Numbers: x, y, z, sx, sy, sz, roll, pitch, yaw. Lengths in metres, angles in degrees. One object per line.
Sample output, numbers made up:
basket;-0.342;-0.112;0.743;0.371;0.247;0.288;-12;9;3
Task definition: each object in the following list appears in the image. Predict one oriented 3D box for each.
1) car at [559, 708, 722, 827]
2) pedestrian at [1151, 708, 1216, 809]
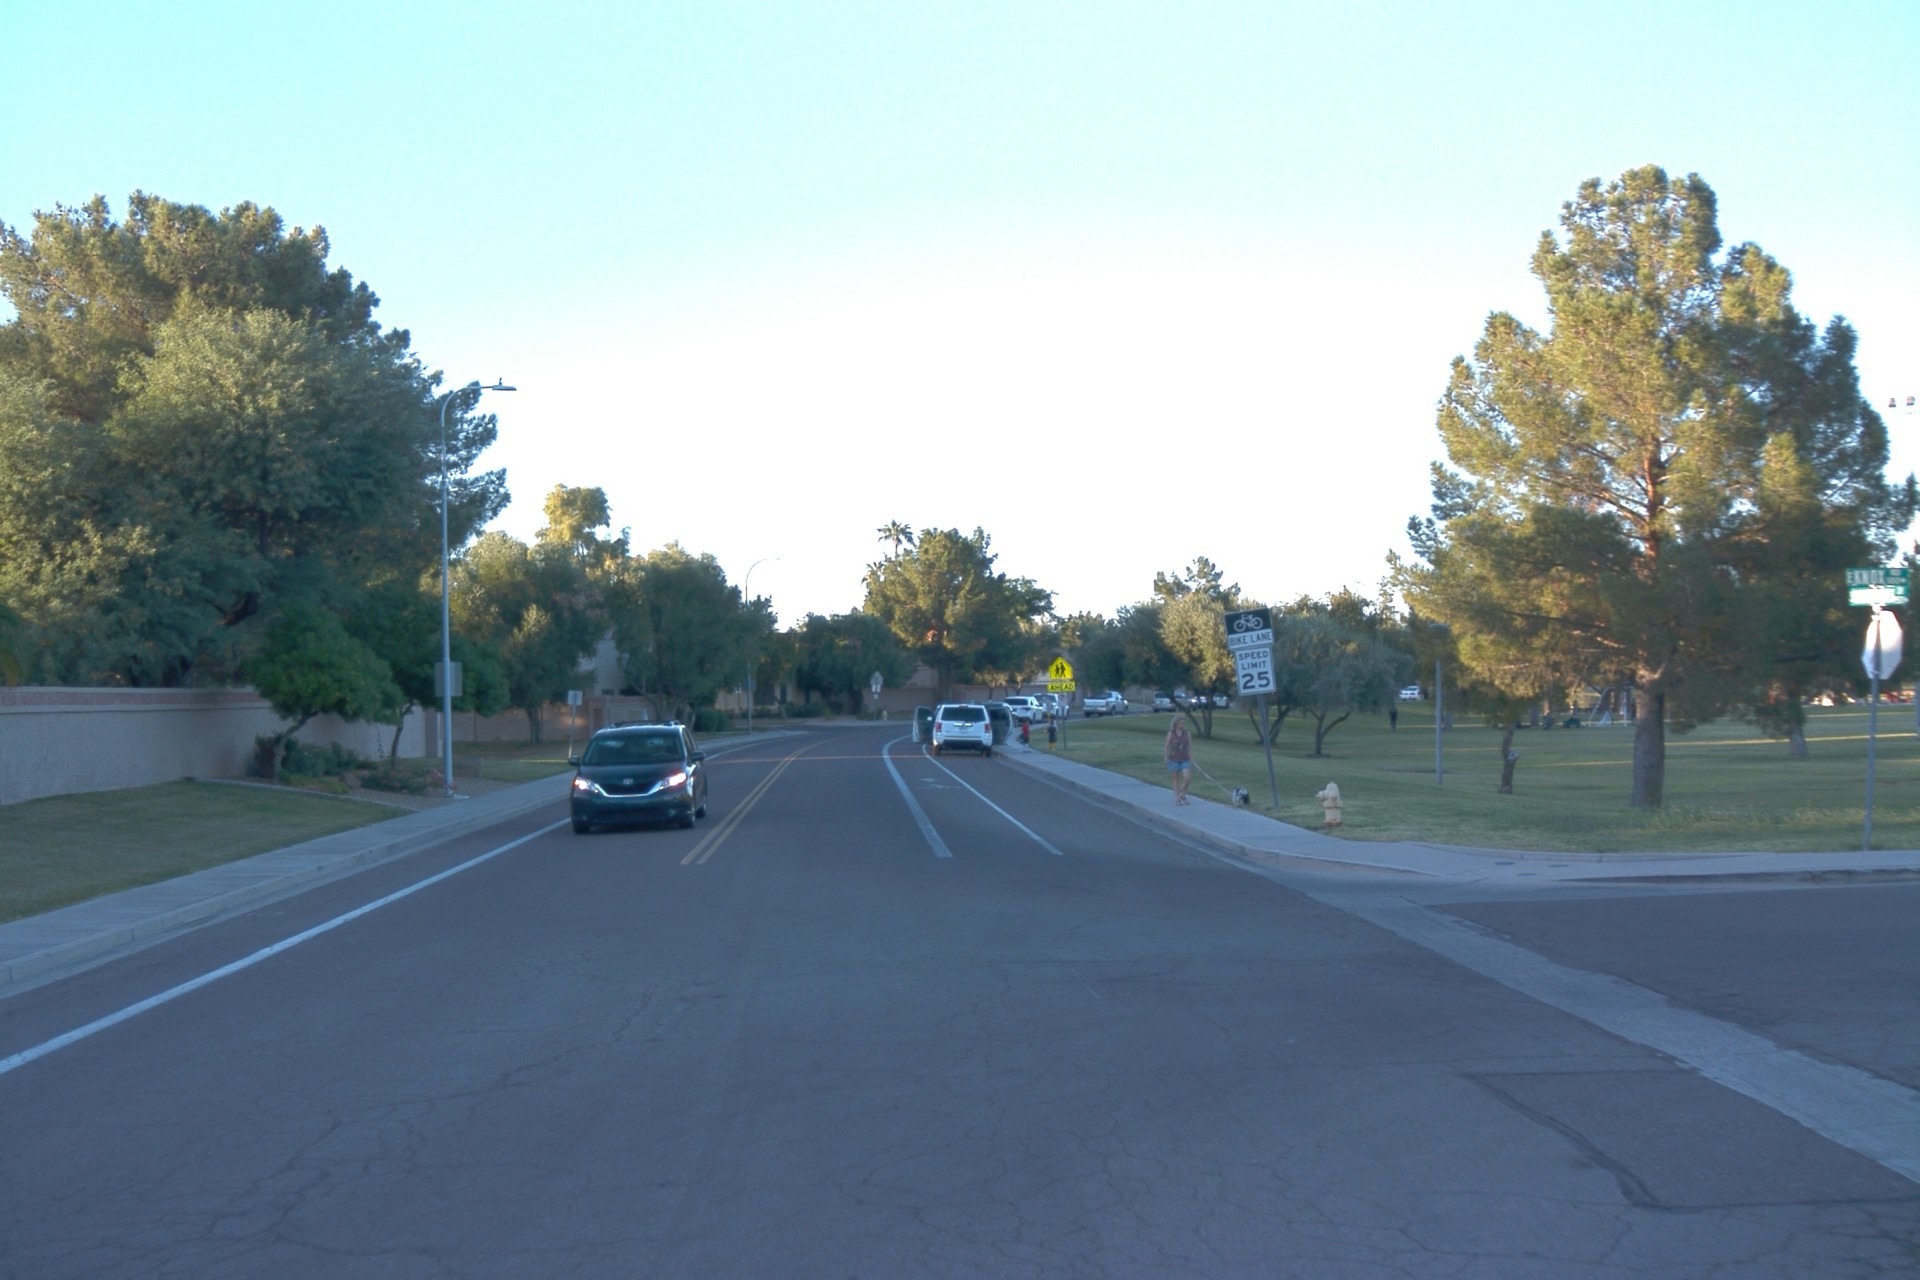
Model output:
car;-5.442;2.136;36.075;2.293;1.840;4.995;0;-1;-3
pedestrian;3.946;2.076;36.742;0.986;1.750;0.878;0;-1;-5
